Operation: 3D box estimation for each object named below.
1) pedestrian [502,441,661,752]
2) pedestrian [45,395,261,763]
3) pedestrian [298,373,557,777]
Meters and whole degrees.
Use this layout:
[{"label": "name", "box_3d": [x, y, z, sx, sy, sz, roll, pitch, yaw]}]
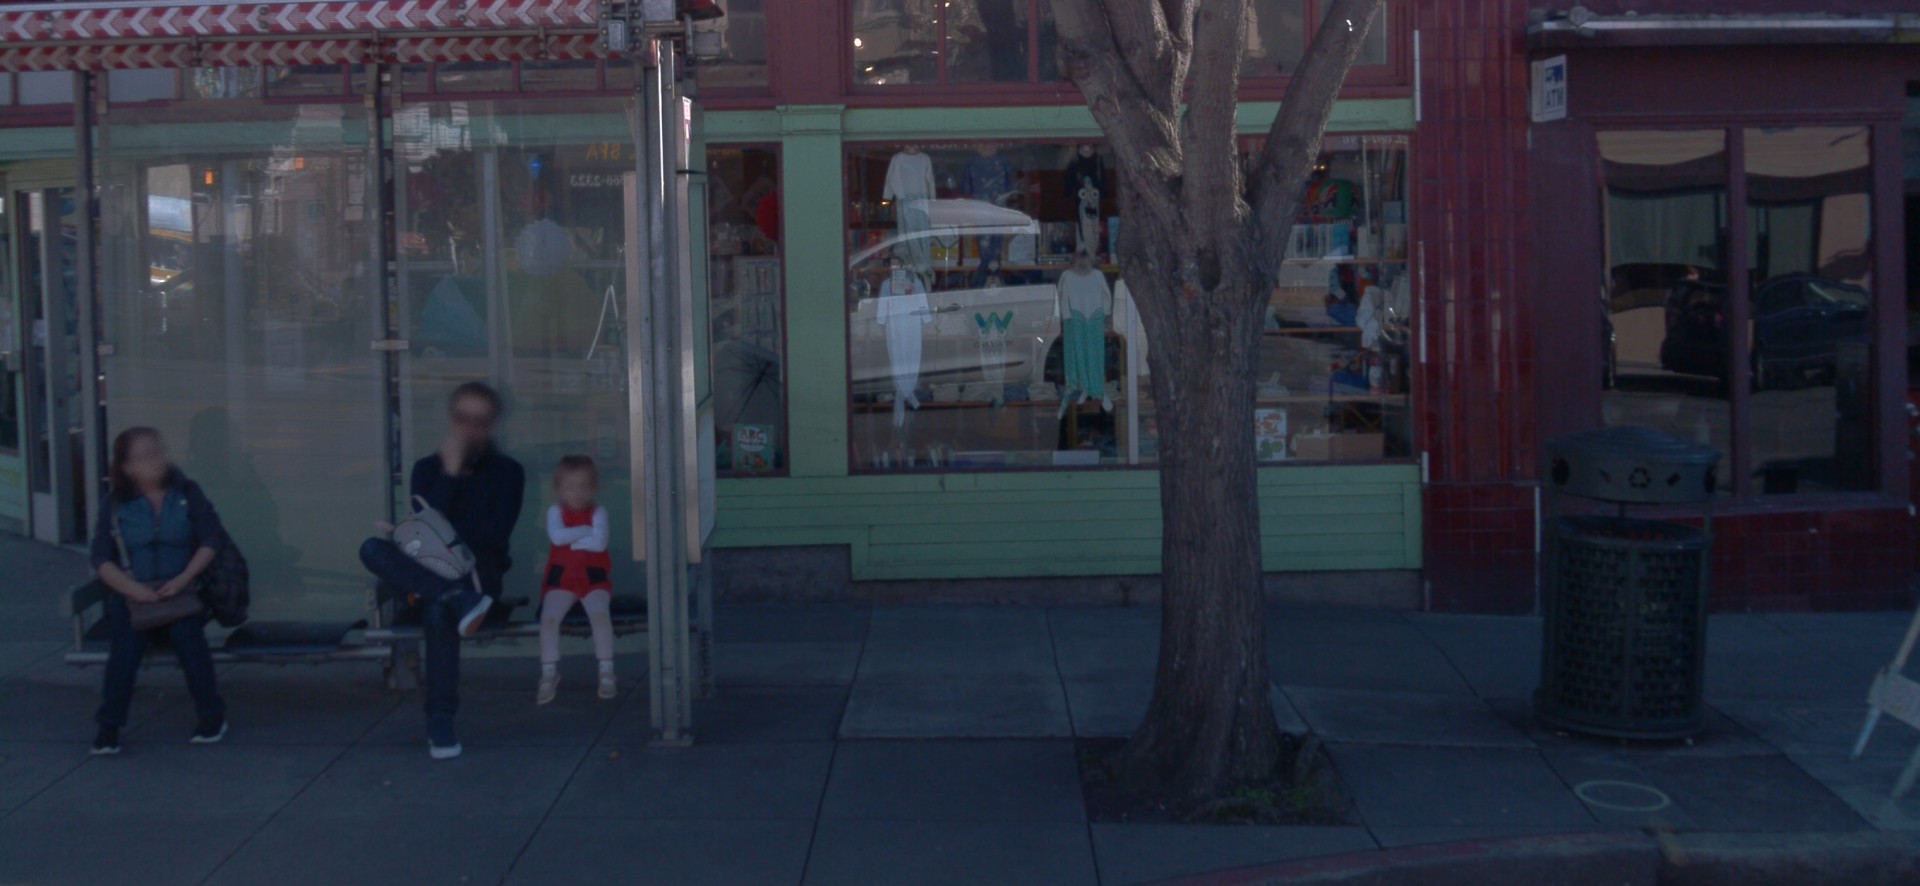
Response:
[{"label": "pedestrian", "box_3d": [-1.461, 0.576, 8.037, 0.528, 1.098, 0.572, 0, 2, -3]}, {"label": "pedestrian", "box_3d": [-3.127, 0.488, 8.060, 0.737, 1.258, 0.794, -1, 2, -19]}, {"label": "pedestrian", "box_3d": [-2.033, 0.466, 7.999, 0.753, 1.398, 0.926, 0, 2, 0]}]
